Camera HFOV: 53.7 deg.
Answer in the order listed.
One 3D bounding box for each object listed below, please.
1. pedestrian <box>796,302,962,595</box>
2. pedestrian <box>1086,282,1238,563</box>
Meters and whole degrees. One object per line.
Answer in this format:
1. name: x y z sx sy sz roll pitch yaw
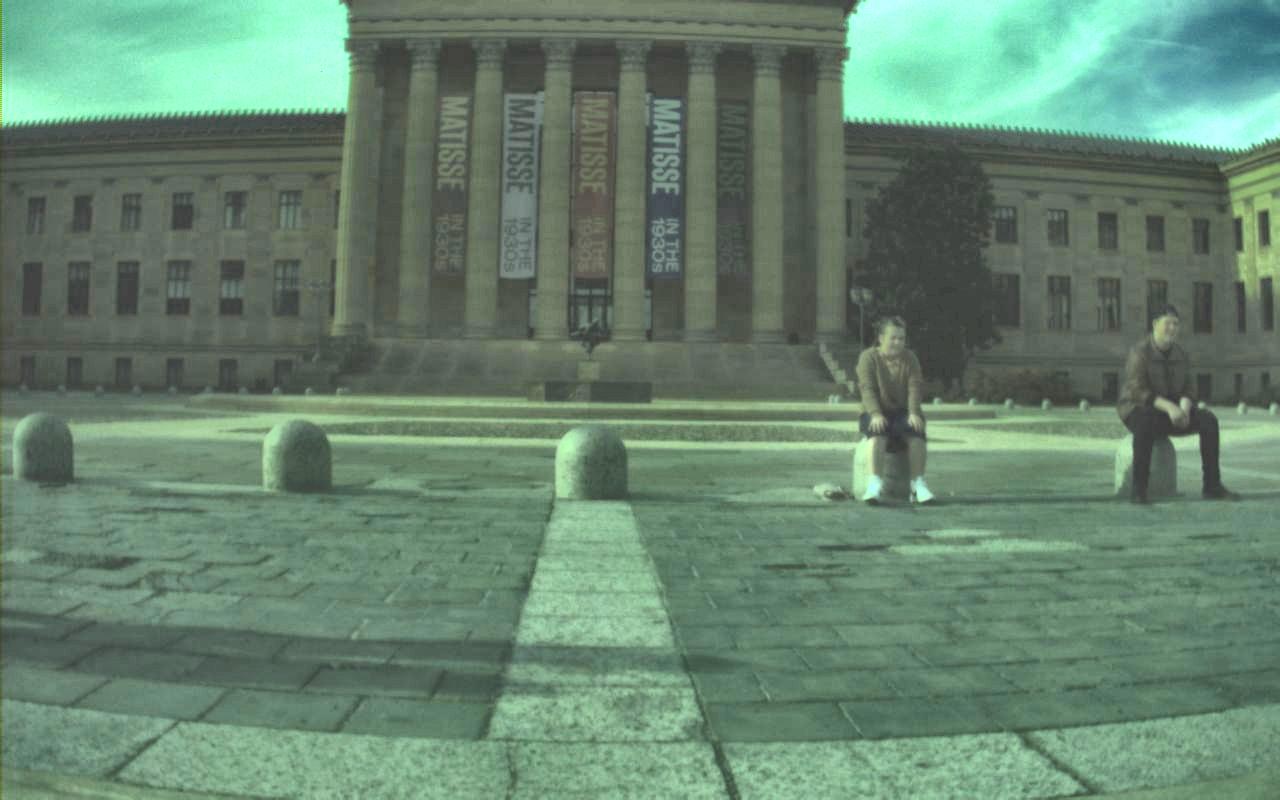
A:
1. pedestrian: 1.541 0.286 7.920 0.834 1.757 0.828 1 0 29
2. pedestrian: 3.502 0.155 7.875 0.824 1.786 0.832 0 0 4
